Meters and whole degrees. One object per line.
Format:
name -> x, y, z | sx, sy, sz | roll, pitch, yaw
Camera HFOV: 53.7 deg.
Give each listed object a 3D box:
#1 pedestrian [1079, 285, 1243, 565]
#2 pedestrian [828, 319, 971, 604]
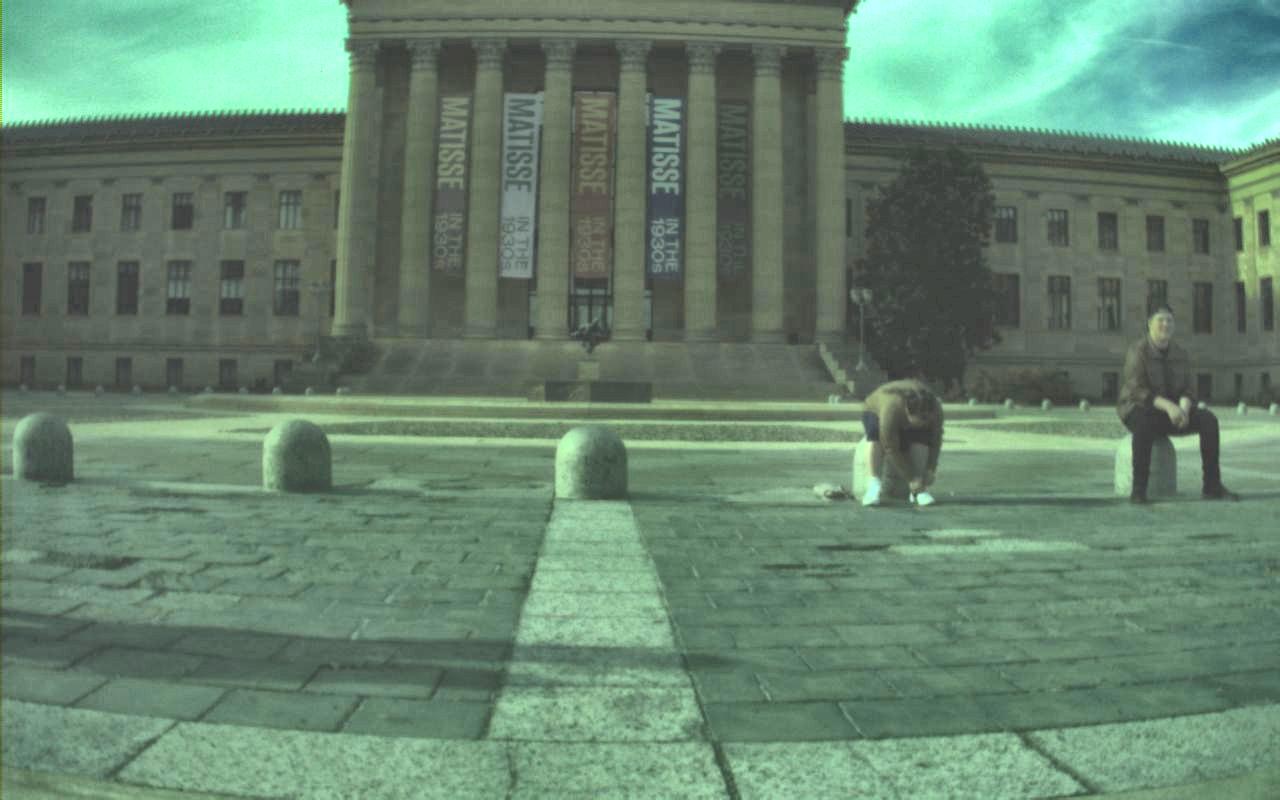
pedestrian -> 3.531, 0.168, 7.934 | 0.831, 1.784, 0.839 | 0, 0, -9
pedestrian -> 1.591, 0.365, 7.705 | 0.812, 1.690, 0.832 | 0, 0, 7
